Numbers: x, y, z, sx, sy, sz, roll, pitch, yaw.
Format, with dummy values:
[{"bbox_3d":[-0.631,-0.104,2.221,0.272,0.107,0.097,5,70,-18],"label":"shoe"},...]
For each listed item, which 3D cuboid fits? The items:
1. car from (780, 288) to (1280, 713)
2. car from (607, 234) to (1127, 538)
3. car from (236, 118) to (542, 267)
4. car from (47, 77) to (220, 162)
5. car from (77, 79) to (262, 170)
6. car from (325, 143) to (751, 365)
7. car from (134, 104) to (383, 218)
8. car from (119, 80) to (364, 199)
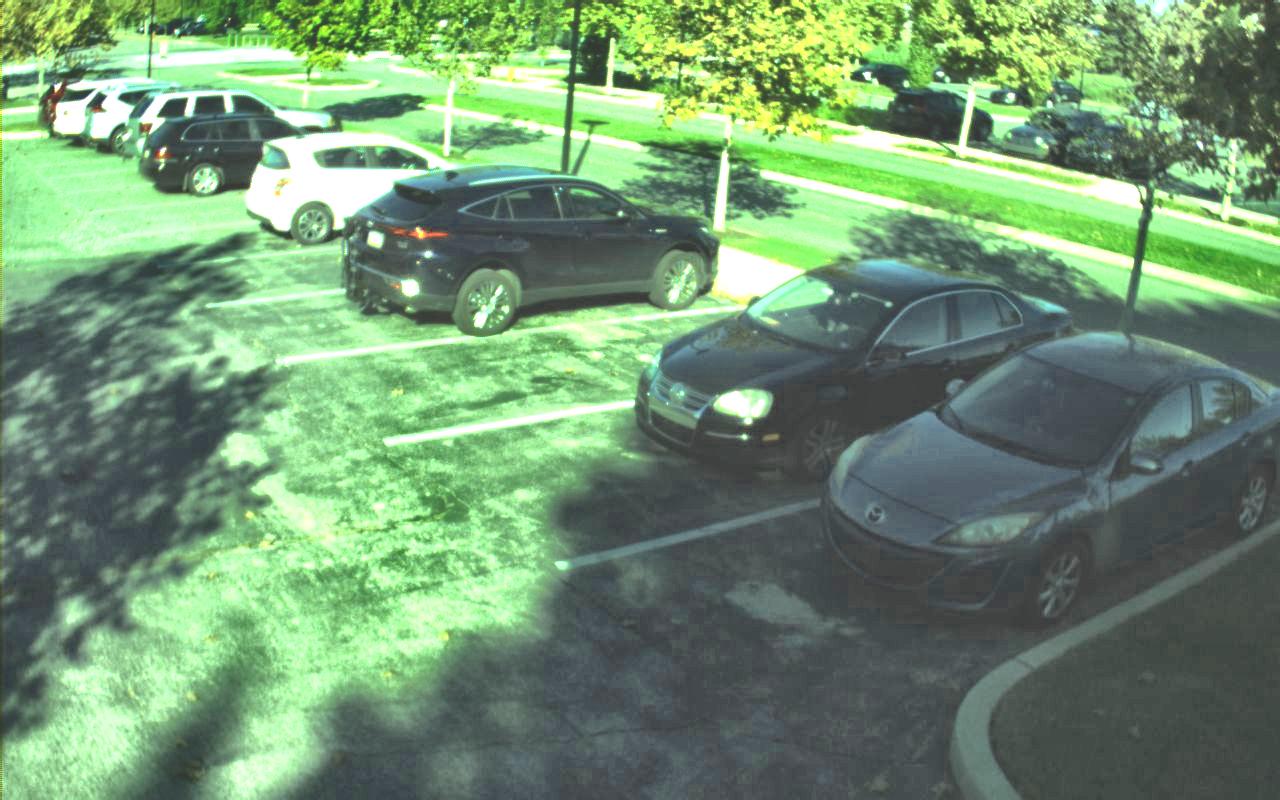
[{"bbox_3d":[3.335,0.418,8.490,4.478,1.590,1.972,-11,19,-31],"label":"car"},{"bbox_3d":[2.162,-0.350,10.877,4.517,1.532,1.947,-12,19,-32],"label":"car"},{"bbox_3d":[-3.885,-3.290,18.981,4.381,1.669,1.931,-12,20,-33],"label":"car"},{"bbox_3d":[-13.530,-7.420,30.490,4.566,1.707,1.990,-13,20,-35],"label":"car"},{"bbox_3d":[-11.698,-6.802,28.719,4.479,1.689,1.959,-12,20,-34],"label":"car"},{"bbox_3d":[-1.087,-1.861,14.496,4.651,1.747,1.991,-14,21,-37],"label":"car"},{"bbox_3d":[-7.322,-4.602,22.781,4.535,1.565,1.939,-12,20,-33],"label":"car"},{"bbox_3d":[-8.447,-5.521,24.943,4.951,1.909,2.089,-12,19,-32],"label":"car"}]
